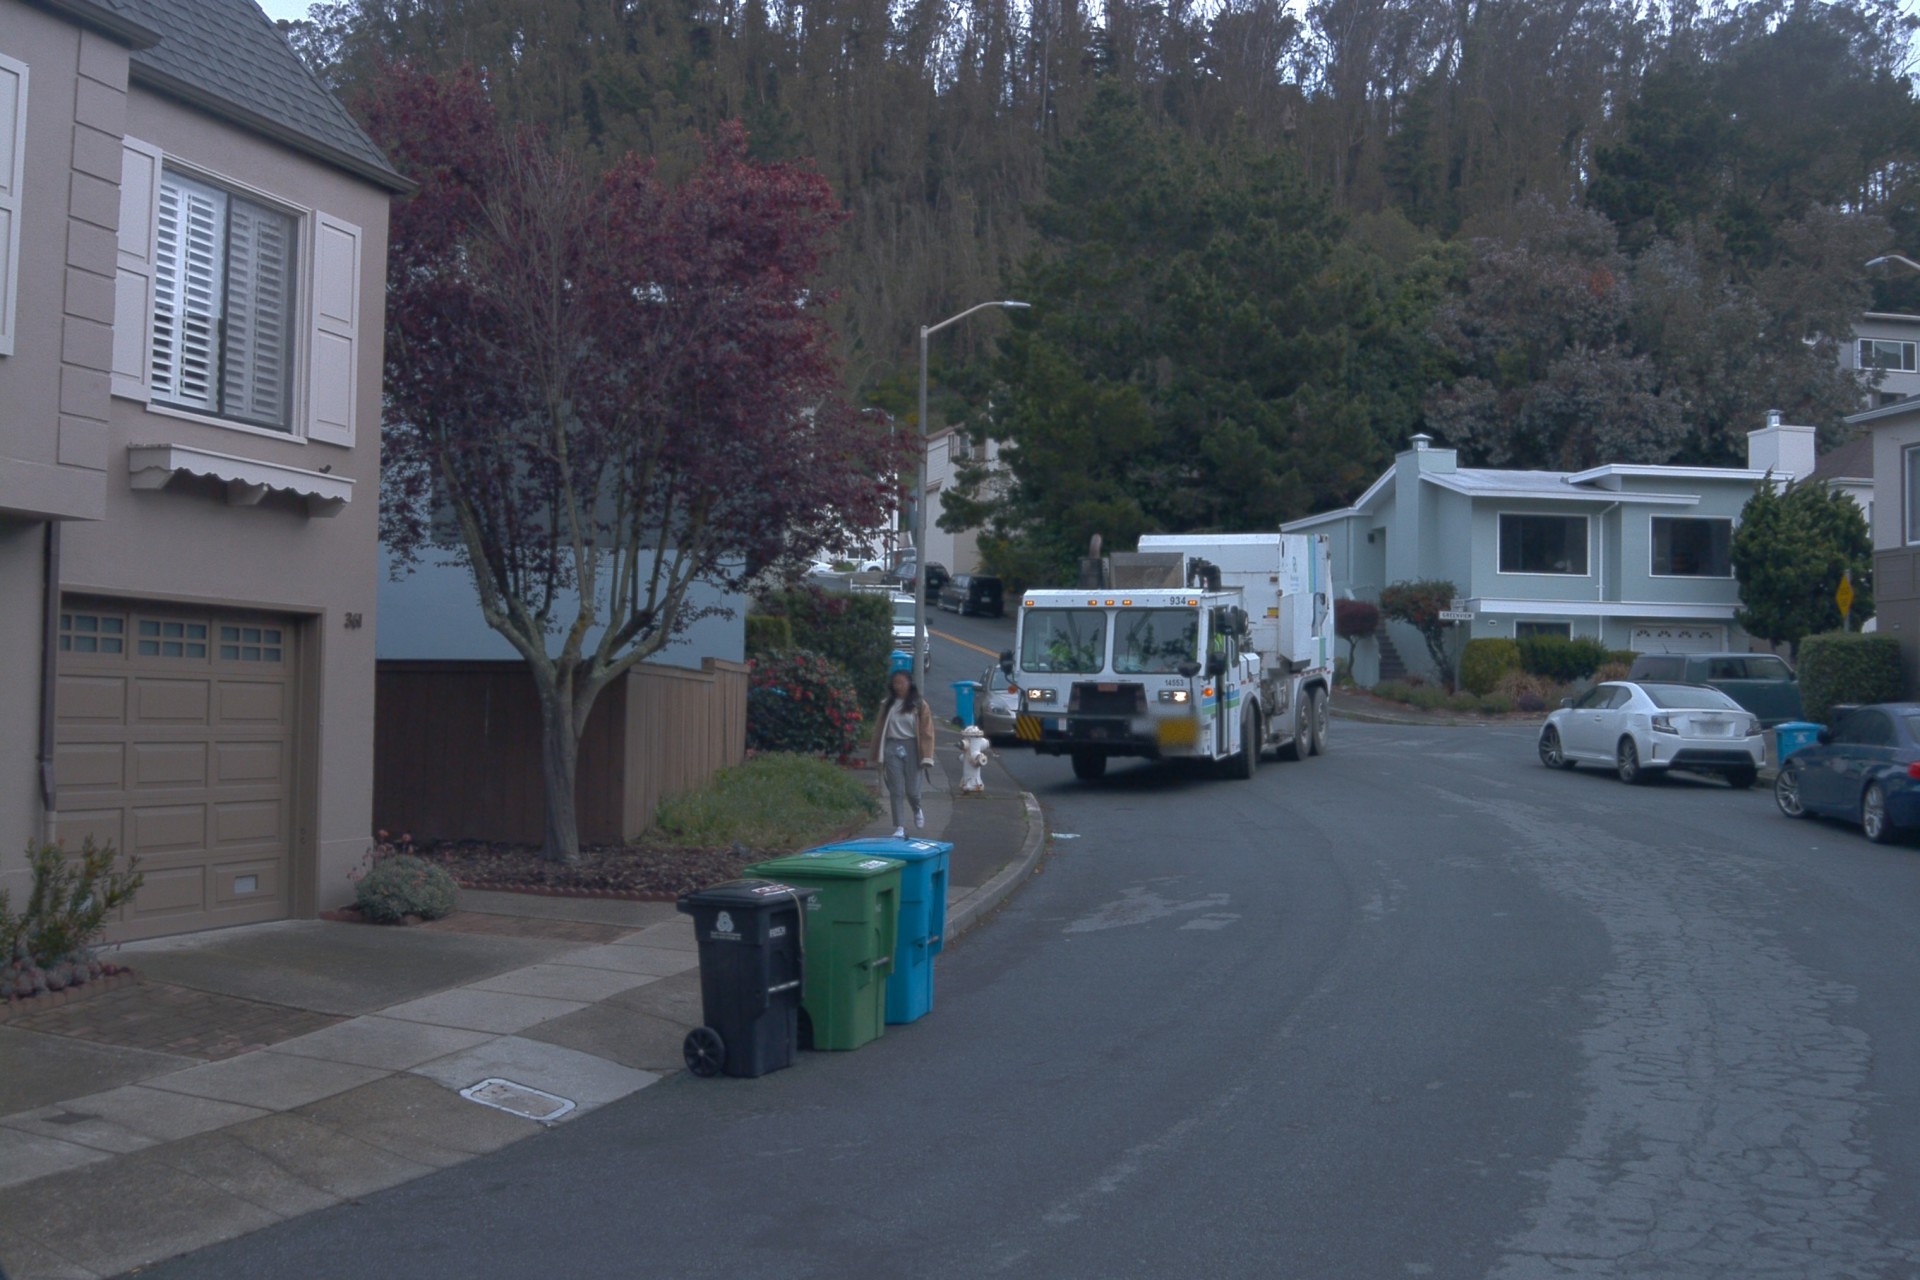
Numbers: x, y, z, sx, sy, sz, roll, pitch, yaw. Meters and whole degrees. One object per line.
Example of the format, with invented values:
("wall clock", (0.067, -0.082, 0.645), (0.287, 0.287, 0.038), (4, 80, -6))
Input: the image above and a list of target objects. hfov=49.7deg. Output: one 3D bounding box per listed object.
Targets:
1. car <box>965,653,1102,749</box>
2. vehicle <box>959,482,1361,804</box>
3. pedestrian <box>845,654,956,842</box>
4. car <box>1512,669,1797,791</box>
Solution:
("car", (1.249, 1.045, 37.297), (2.119, 1.560, 4.768), (0, 0, -2))
("vehicle", (3.403, 0.014, 30.773), (3.290, 3.920, 10.709), (0, 0, 20))
("pedestrian", (-0.557, 1.011, 19.858), (0.952, 1.740, 1.002), (0, 0, 4))
("car", (9.944, 1.237, 30.104), (2.208, 1.540, 4.531), (0, 0, -7))
